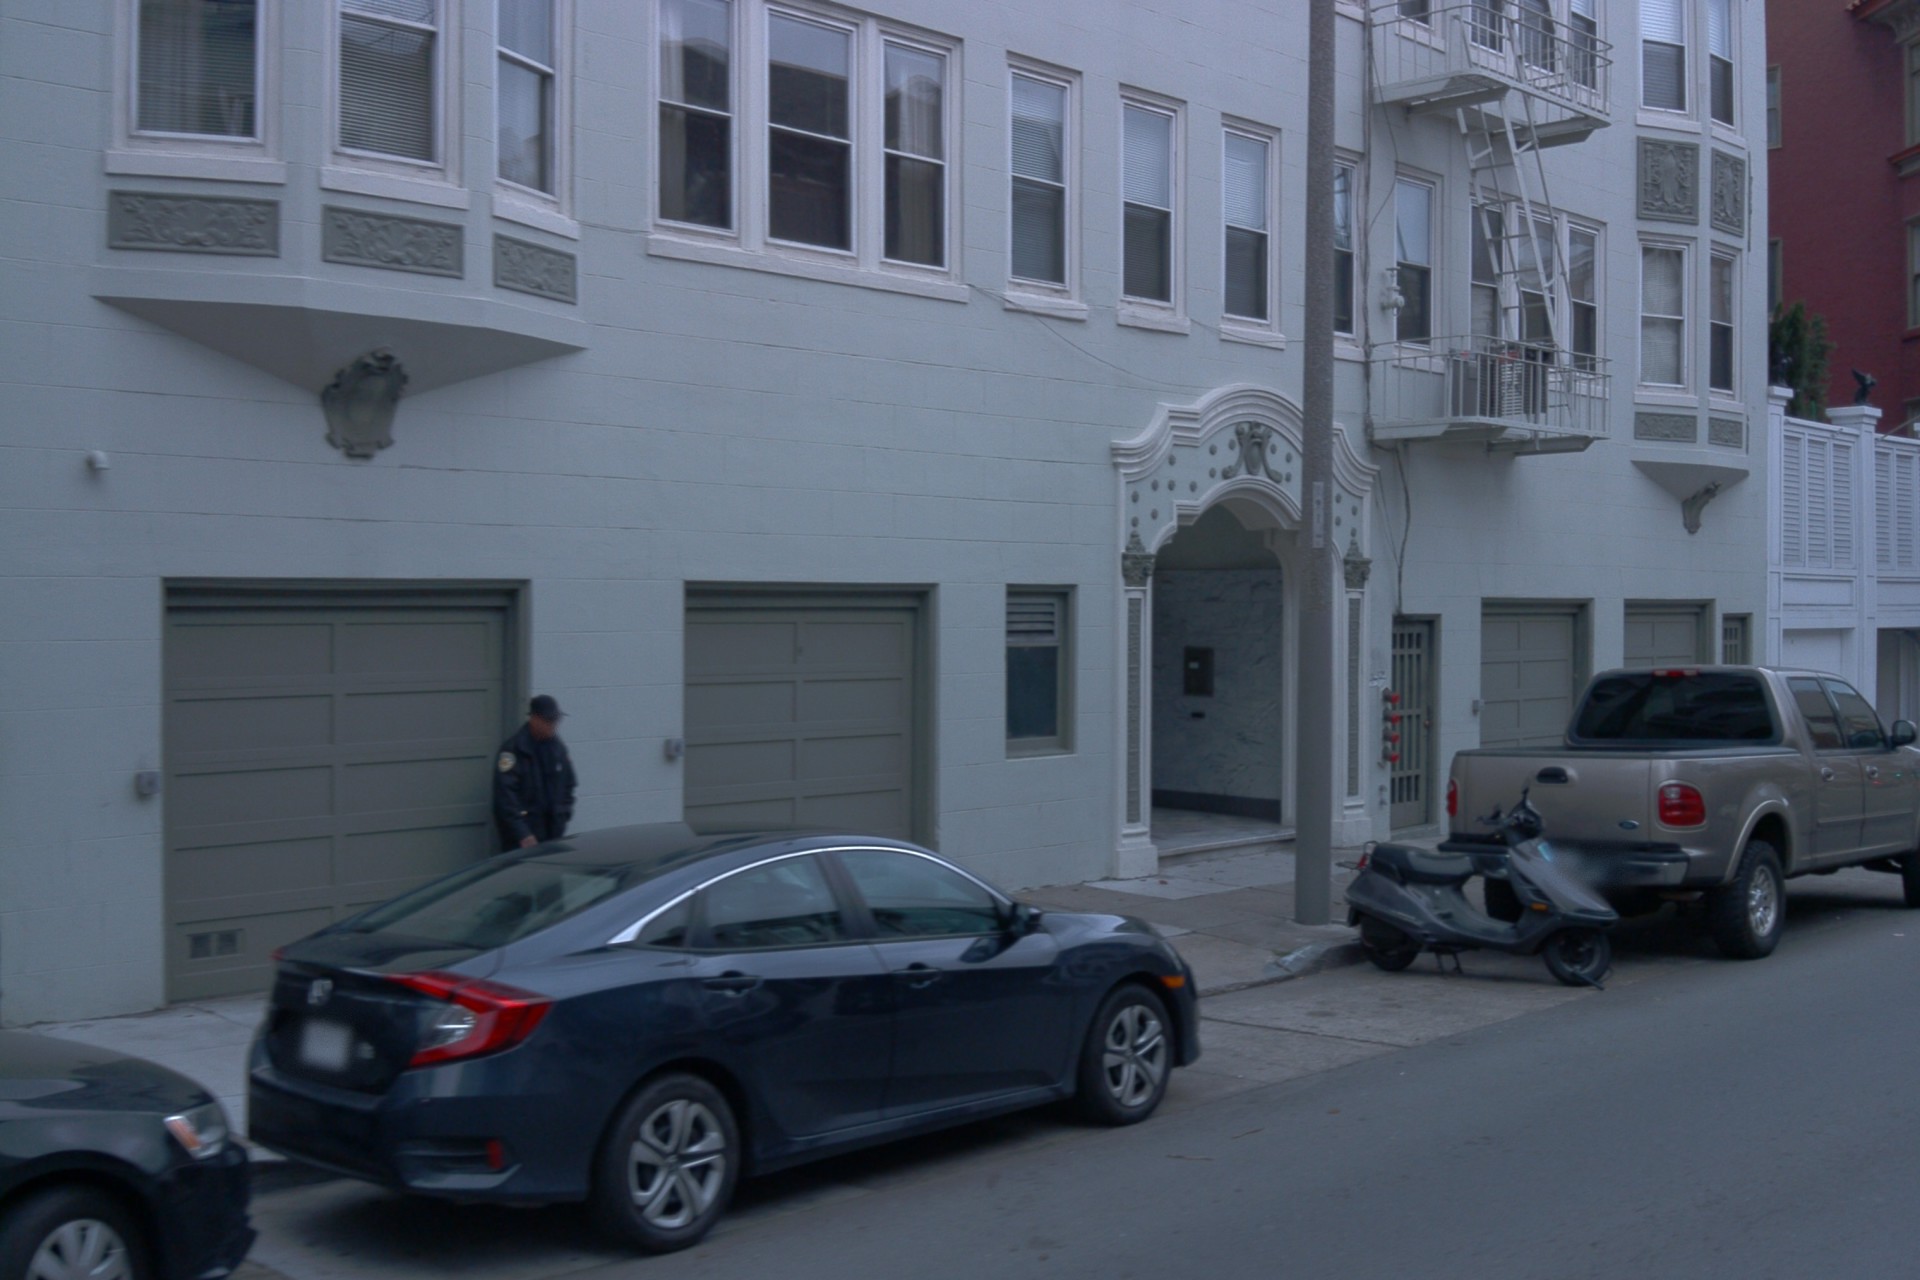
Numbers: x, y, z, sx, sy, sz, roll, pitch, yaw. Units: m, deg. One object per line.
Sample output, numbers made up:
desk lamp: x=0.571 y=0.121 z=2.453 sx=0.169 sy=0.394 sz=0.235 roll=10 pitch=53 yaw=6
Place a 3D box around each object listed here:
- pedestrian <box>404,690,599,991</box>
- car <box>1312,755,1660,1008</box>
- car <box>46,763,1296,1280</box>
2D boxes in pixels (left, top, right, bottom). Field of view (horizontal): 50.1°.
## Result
pedestrian: x=-2.616 y=1.106 z=11.731 sx=0.676 sy=1.600 sz=0.840 roll=2 pitch=1 yaw=44
car: x=3.292 y=1.468 z=12.962 sx=1.962 sy=1.350 sz=0.774 roll=1 pitch=1 yaw=37
car: x=-0.905 y=1.432 z=8.559 sx=2.230 sy=1.480 sz=4.809 roll=1 pitch=1 yaw=43
